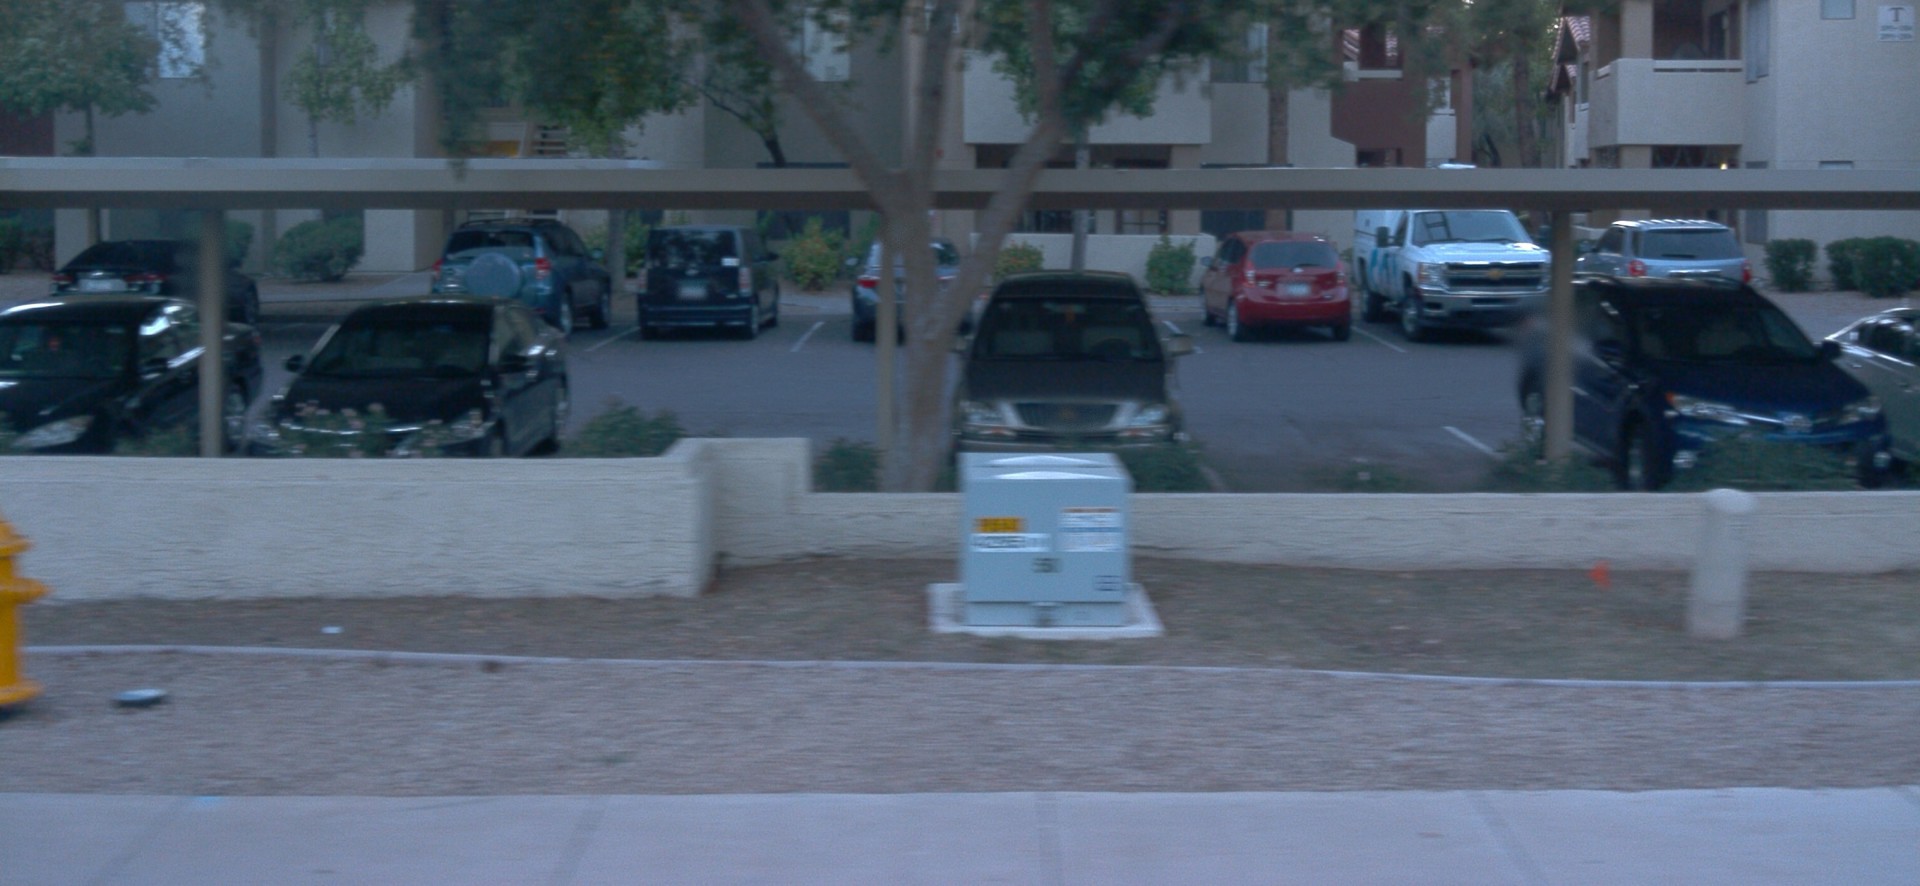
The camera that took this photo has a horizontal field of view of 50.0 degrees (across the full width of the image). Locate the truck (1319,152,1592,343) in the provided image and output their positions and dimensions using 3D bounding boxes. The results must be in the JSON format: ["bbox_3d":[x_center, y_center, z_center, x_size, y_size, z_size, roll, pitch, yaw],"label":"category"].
[{"bbox_3d":[7.212,-2.948,30.810,2.642,2.560,6.056,0,5,0],"label":"truck"}]

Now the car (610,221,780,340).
[{"bbox_3d":[-3.826,-2.449,30.404,1.787,1.623,4.165,0,5,2],"label":"car"}]

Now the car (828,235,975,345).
[{"bbox_3d":[-0.870,-2.299,30.172,1.999,1.483,4.393,0,5,-2],"label":"car"}]

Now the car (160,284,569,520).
[{"bbox_3d":[-4.692,-0.475,17.046,2.118,1.543,4.717,0,5,-1],"label":"car"}]

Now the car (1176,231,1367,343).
[{"bbox_3d":[4.490,-2.353,30.308,2.026,1.523,4.103,0,5,-3],"label":"car"}]

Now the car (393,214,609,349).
[{"bbox_3d":[-6.485,-2.382,29.638,2.054,1.782,4.557,0,5,0],"label":"car"}]

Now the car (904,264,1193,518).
[{"bbox_3d":[0.744,-0.570,17.033,2.074,1.733,4.460,0,5,3],"label":"car"}]

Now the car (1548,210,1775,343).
[{"bbox_3d":[10.111,-2.480,30.053,2.147,1.783,4.493,0,5,5],"label":"car"}]
